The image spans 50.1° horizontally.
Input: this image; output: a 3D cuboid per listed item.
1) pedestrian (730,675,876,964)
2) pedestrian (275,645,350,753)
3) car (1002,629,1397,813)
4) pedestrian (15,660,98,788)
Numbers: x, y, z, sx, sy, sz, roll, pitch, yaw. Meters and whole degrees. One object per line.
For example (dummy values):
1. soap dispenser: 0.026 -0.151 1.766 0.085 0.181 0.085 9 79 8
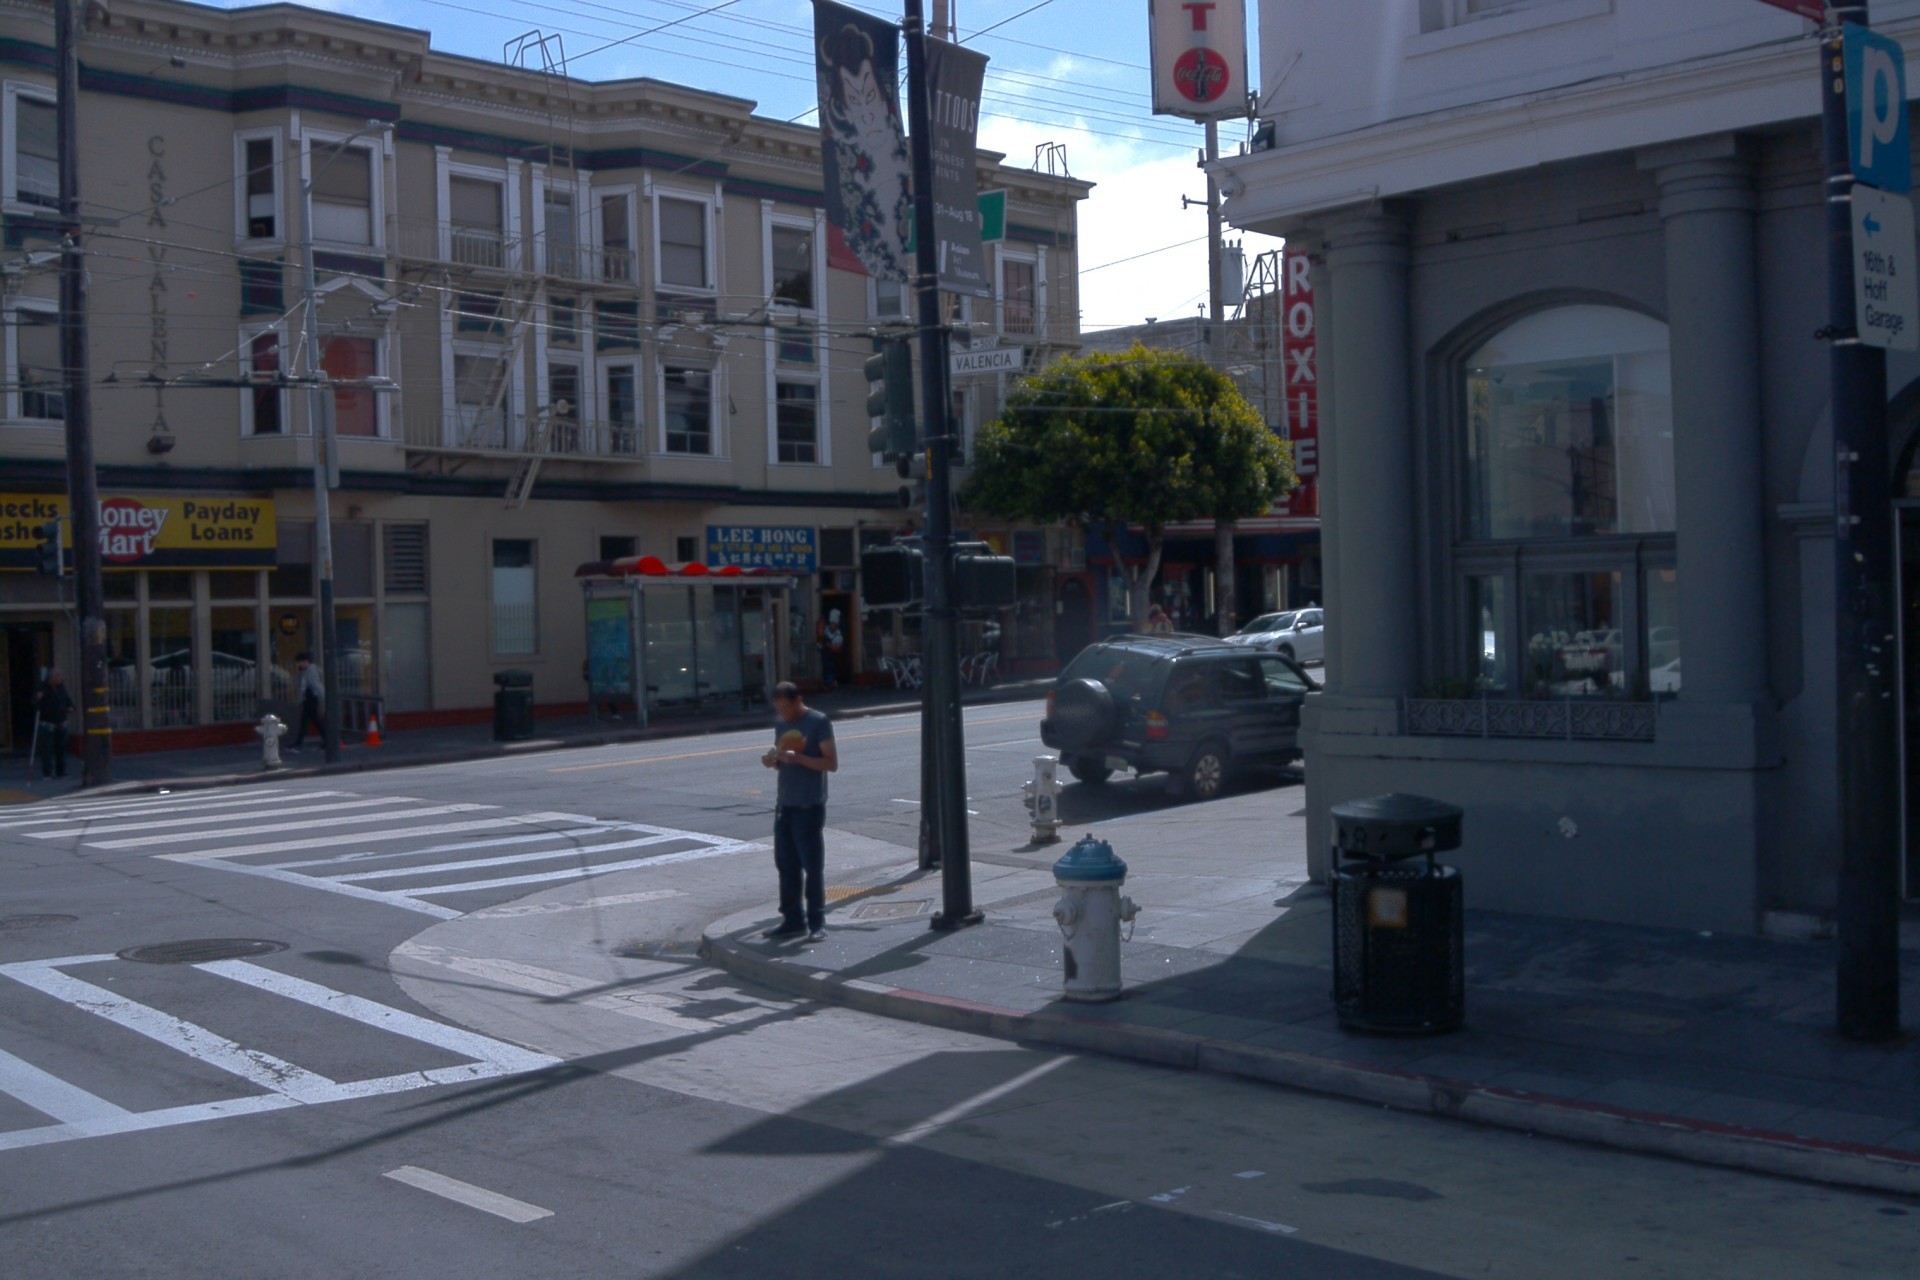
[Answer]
1. pedestrian: -1.074 1.194 14.051 0.690 1.880 0.721 0 0 -44
2. pedestrian: -10.600 0.954 33.649 0.962 1.720 0.919 0 0 -32
3. car: 2.841 0.825 23.617 2.130 1.870 4.629 0 1 44
4. pedestrian: -13.202 1.202 30.032 0.995 1.790 1.335 0 0 -28
